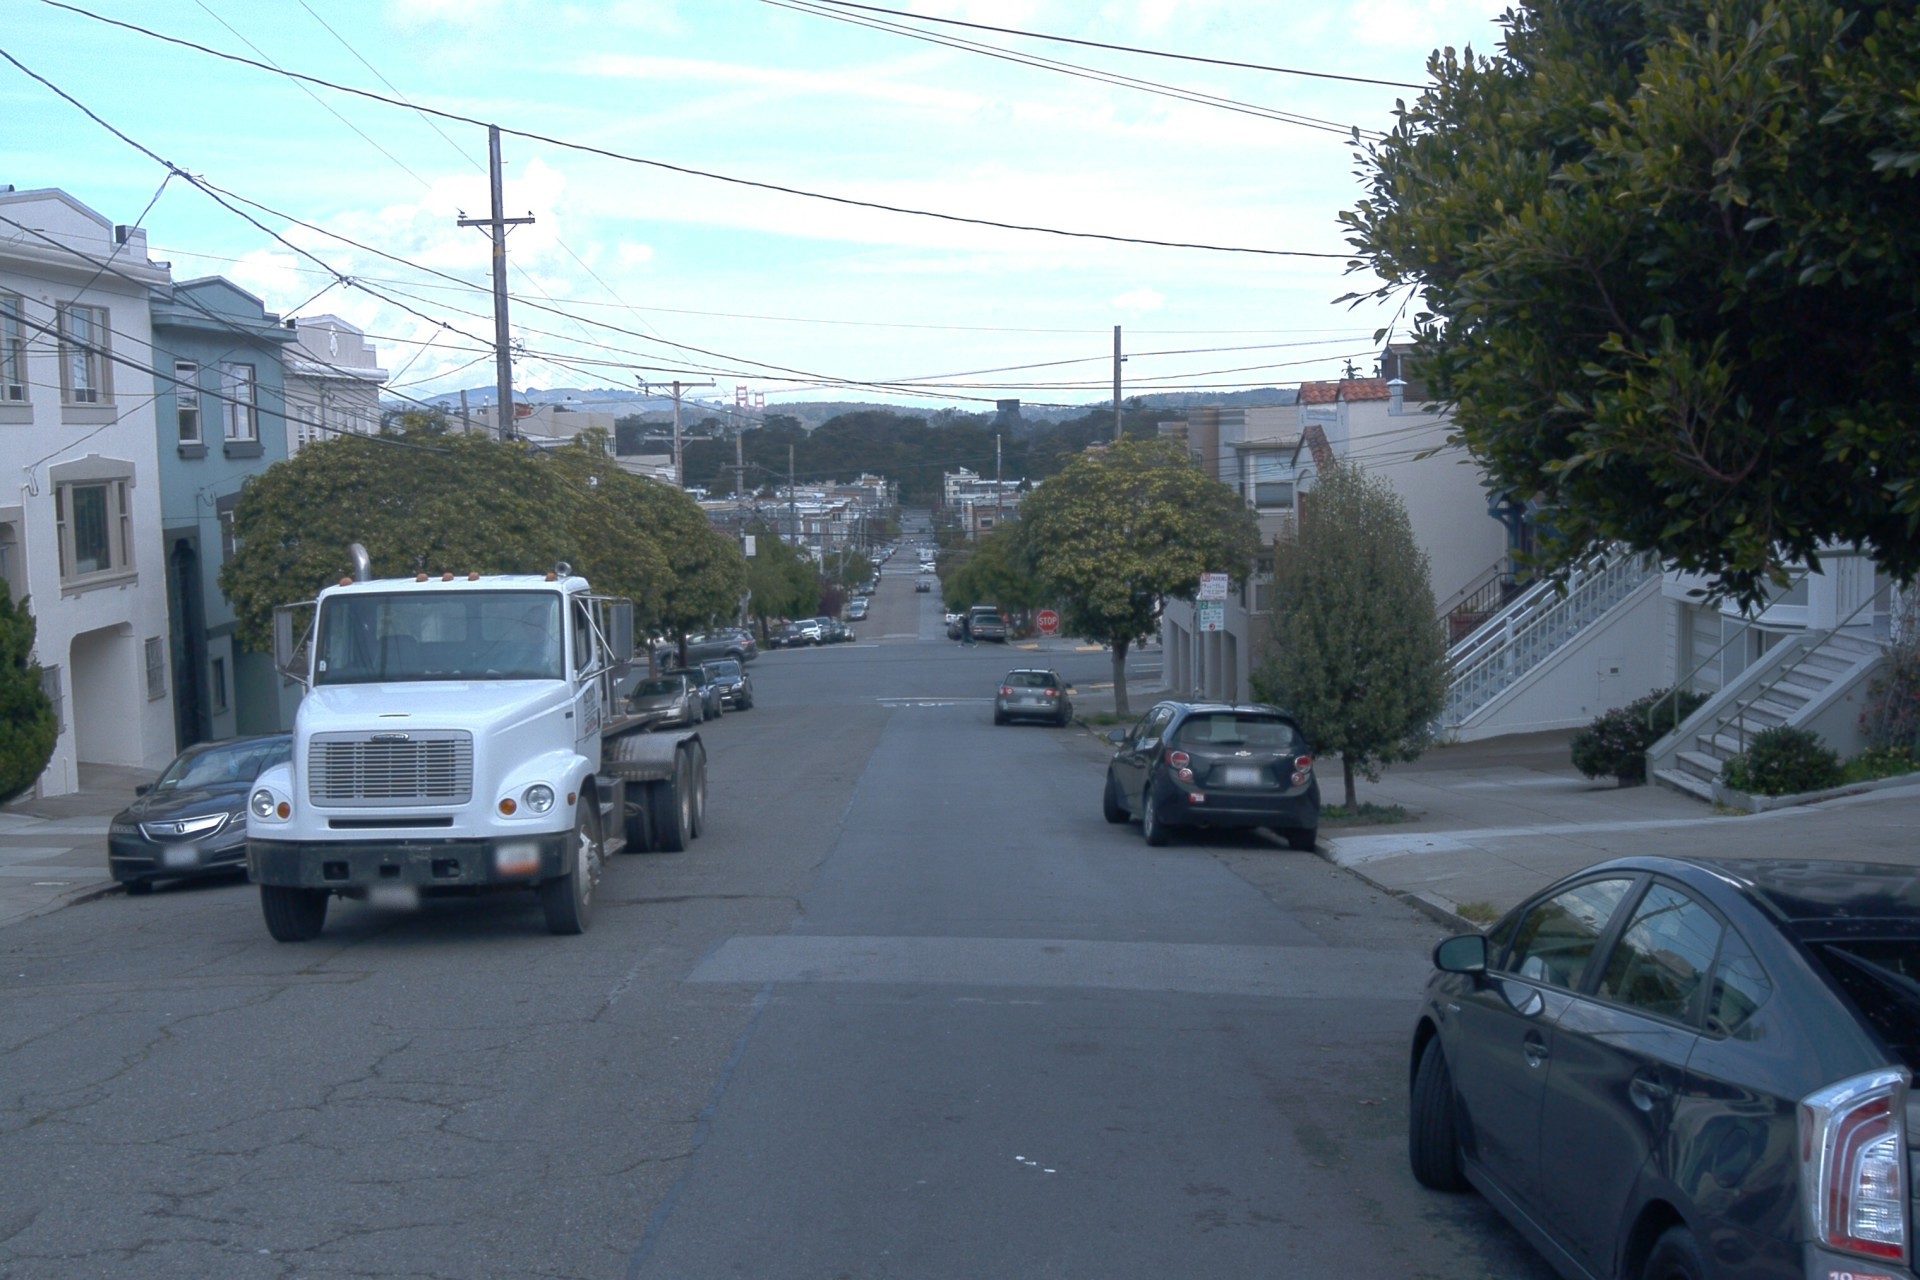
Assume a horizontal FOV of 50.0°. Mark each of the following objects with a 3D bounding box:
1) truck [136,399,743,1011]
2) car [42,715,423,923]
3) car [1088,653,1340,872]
[{"bbox_3d":[-3.979,0.430,18.792,3.123,4.040,10.301,0,0,-1],"label":"truck"},{"bbox_3d":[-7.333,1.736,21.418,2.303,1.730,4.905,0,0,-1],"label":"car"},{"bbox_3d":[2.651,1.220,22.570,1.978,2.130,4.416,0,0,-3],"label":"car"}]
